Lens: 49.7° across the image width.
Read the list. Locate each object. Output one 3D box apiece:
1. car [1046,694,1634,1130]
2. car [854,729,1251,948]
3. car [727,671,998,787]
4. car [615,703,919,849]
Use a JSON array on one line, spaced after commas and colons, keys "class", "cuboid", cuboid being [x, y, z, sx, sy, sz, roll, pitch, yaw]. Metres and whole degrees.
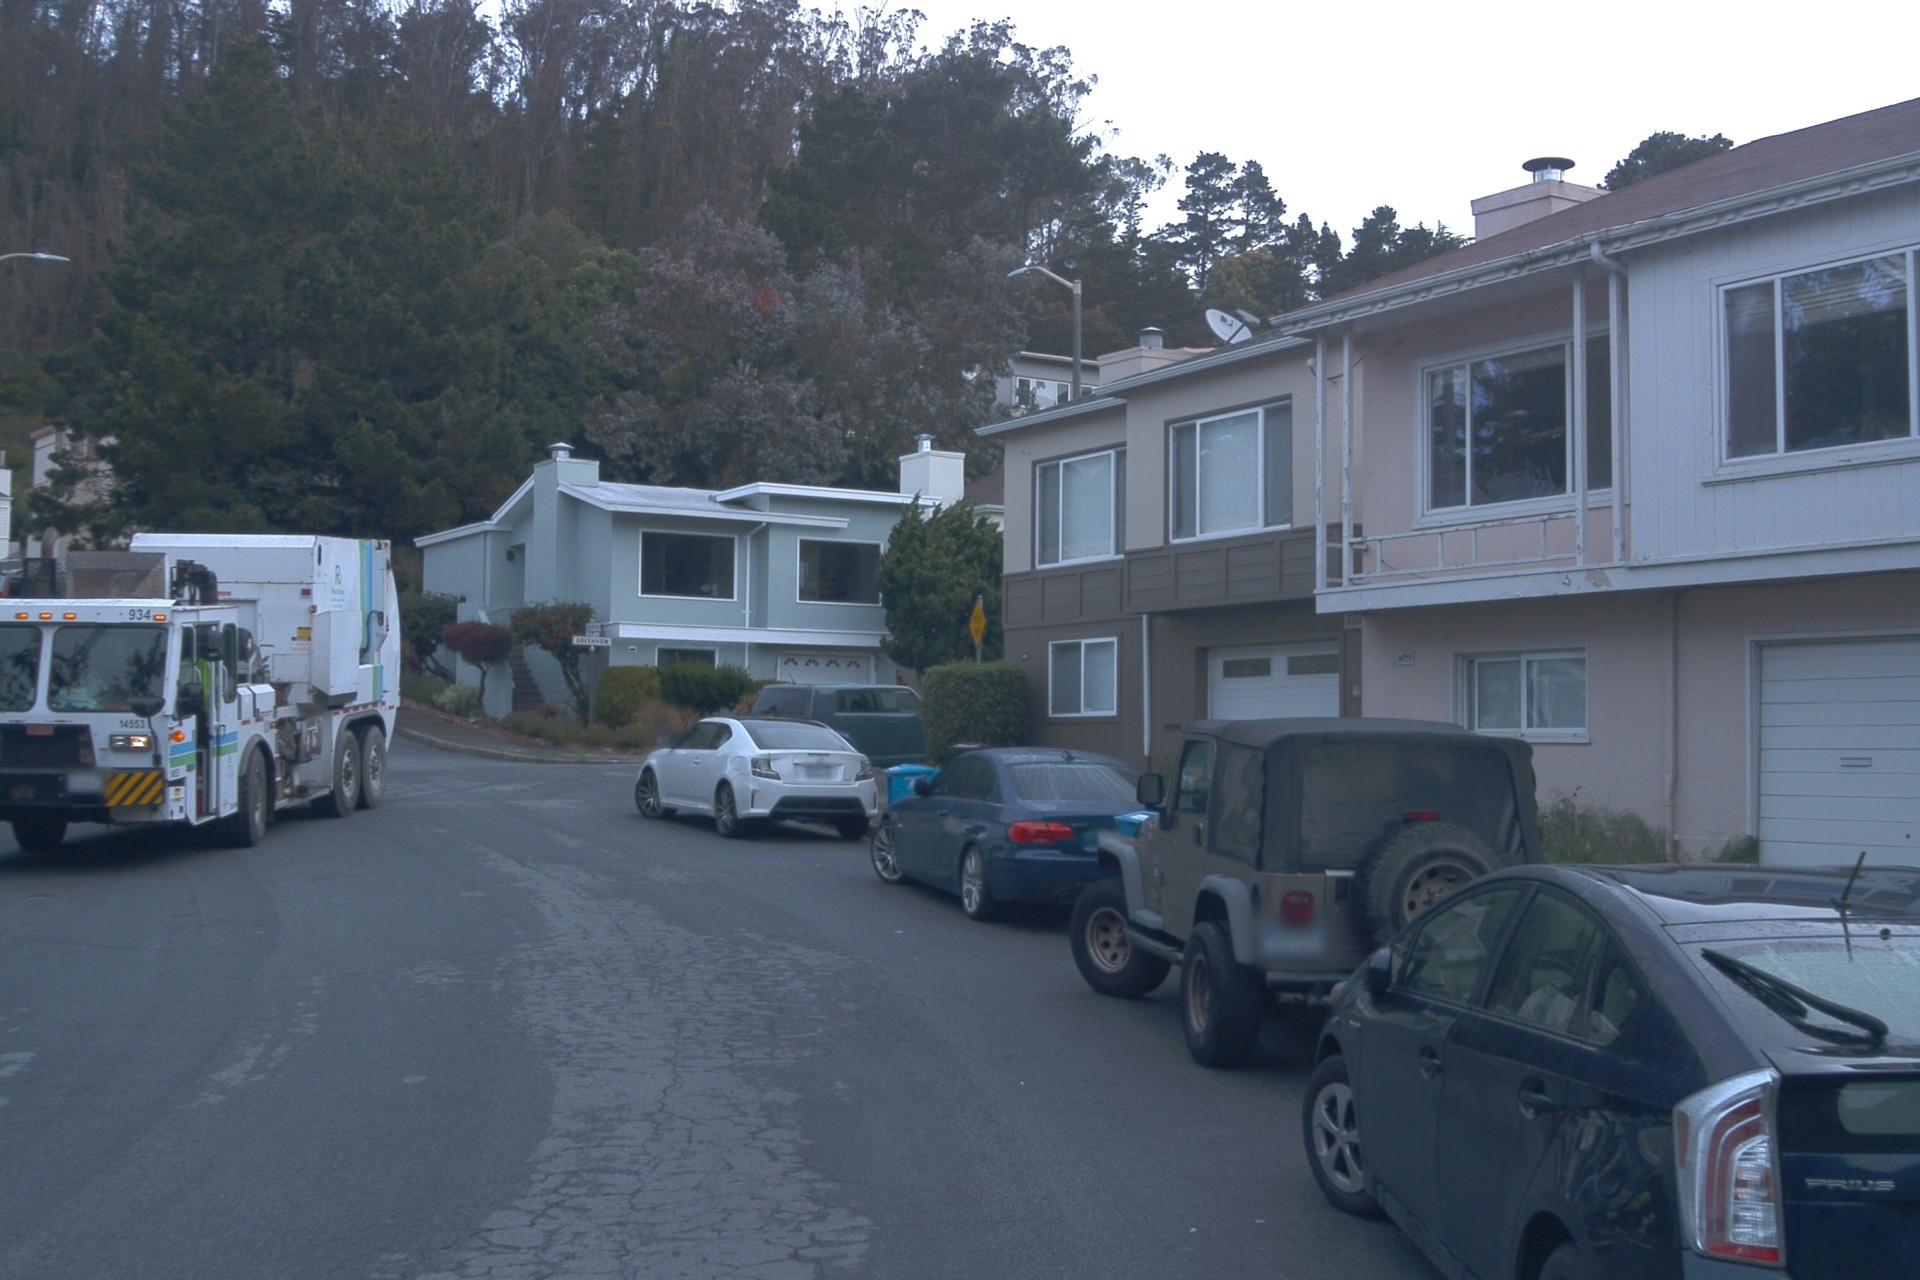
[{"class": "car", "cuboid": [1.931, 1.339, 11.932, 2.126, 1.973, 4.022, 0, 0, -9]}, {"class": "car", "cuboid": [0.622, 1.601, 18.083, 2.036, 1.450, 4.651, 0, 0, -17]}, {"class": "car", "cuboid": [-1.590, 1.430, 34.756, 4.270, 1.770, 2.030, 0, 0, -44]}, {"class": "car", "cuboid": [-2.533, 1.622, 26.055, 2.201, 1.540, 4.546, 0, 0, -28]}]
